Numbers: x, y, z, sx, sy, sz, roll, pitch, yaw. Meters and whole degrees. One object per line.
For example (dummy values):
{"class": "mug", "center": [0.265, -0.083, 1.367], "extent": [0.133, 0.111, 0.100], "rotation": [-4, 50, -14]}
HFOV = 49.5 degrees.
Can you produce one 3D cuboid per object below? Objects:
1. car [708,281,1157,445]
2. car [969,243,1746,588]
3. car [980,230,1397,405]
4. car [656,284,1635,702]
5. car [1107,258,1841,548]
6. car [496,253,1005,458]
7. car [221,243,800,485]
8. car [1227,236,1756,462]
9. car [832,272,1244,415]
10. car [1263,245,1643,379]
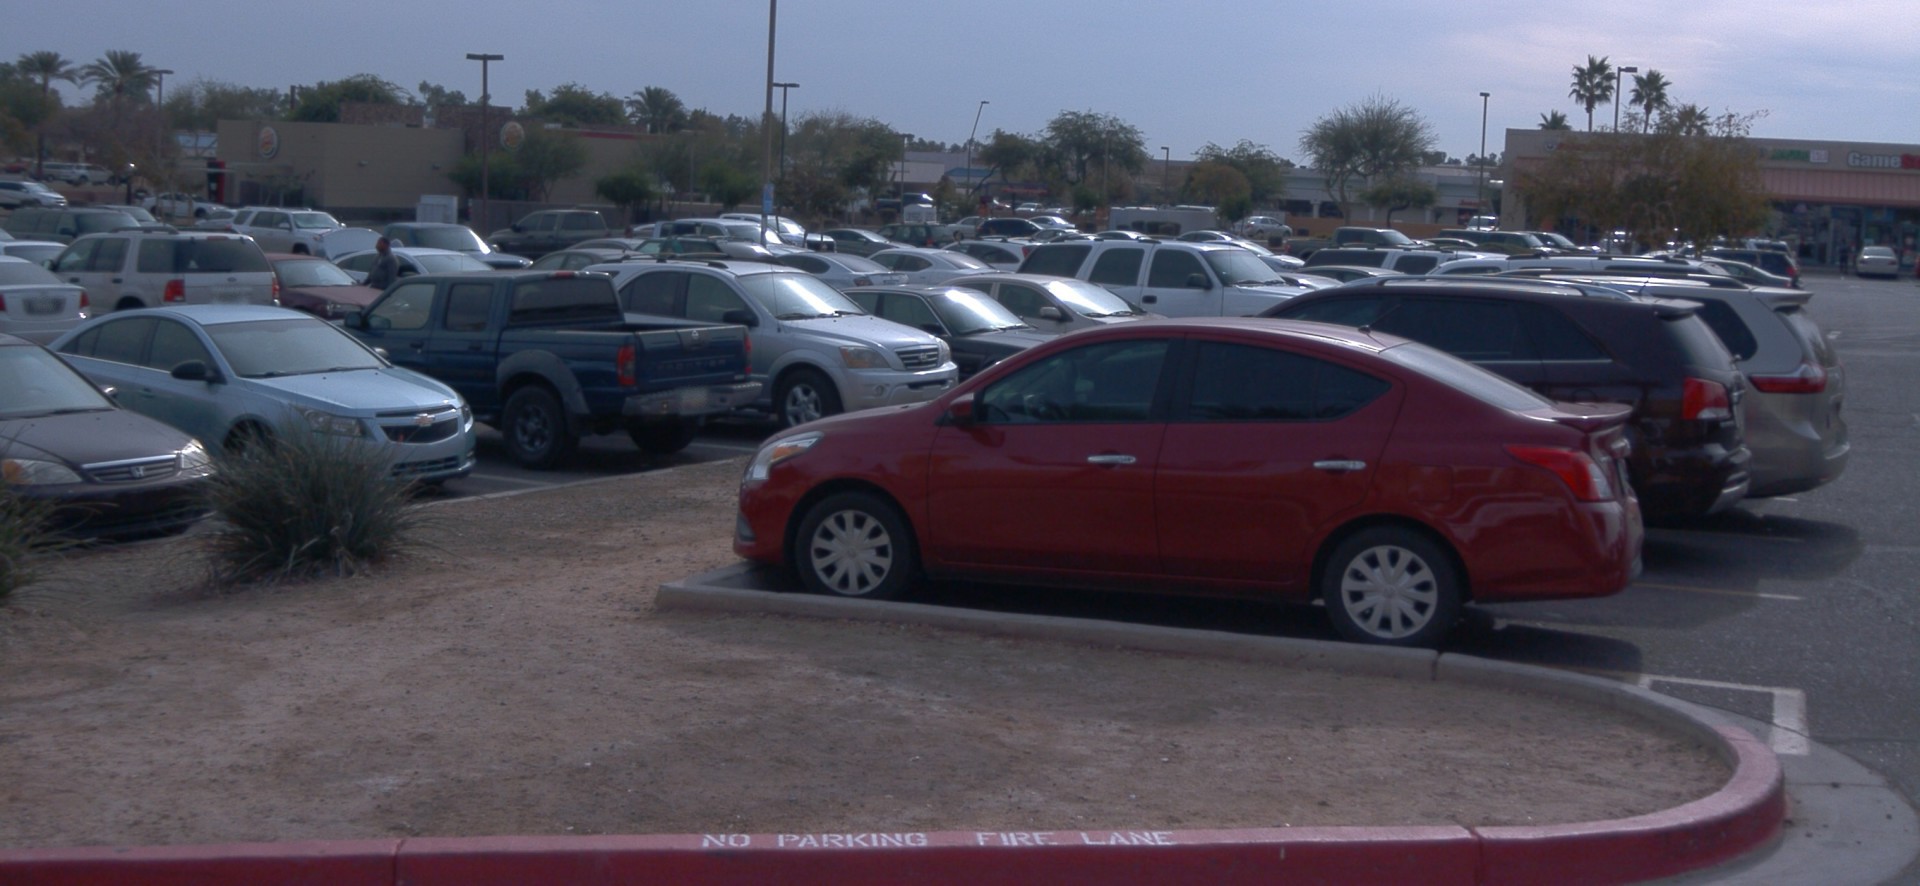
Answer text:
{"class": "car", "center": [-0.363, -0.978, 23.222], "extent": [4.754, 1.566, 1.940], "rotation": [4, 5, 34]}
{"class": "car", "center": [2.673, -0.338, 13.770], "extent": [4.684, 1.926, 2.307], "rotation": [2, 4, 21]}
{"class": "car", "center": [2.988, -1.765, 27.825], "extent": [5.135, 2.116, 2.185], "rotation": [4, 4, 36]}
{"class": "car", "center": [0.975, 0.084, 10.547], "extent": [4.564, 1.677, 1.983], "rotation": [2, 4, 20]}
{"class": "car", "center": [3.930, -0.455, 15.992], "extent": [5.081, 1.866, 2.286], "rotation": [3, 4, 26]}
{"class": "car", "center": [-2.192, -1.002, 21.237], "extent": [4.825, 1.816, 2.264], "rotation": [4, 5, 34]}
{"class": "car", "center": [-4.269, -0.870, 19.426], "extent": [5.243, 1.946, 2.206], "rotation": [4, 4, 33]}
{"class": "car", "center": [5.523, -1.087, 21.619], "extent": [4.922, 2.086, 2.408], "rotation": [3, 4, 26]}
{"class": "car", "center": [0.920, -1.297, 25.579], "extent": [4.611, 1.516, 2.131], "rotation": [4, 5, 34]}
{"class": "car", "center": [8.071, -2.254, 34.404], "extent": [5.616, 1.995, 2.431], "rotation": [5, 5, 41]}
